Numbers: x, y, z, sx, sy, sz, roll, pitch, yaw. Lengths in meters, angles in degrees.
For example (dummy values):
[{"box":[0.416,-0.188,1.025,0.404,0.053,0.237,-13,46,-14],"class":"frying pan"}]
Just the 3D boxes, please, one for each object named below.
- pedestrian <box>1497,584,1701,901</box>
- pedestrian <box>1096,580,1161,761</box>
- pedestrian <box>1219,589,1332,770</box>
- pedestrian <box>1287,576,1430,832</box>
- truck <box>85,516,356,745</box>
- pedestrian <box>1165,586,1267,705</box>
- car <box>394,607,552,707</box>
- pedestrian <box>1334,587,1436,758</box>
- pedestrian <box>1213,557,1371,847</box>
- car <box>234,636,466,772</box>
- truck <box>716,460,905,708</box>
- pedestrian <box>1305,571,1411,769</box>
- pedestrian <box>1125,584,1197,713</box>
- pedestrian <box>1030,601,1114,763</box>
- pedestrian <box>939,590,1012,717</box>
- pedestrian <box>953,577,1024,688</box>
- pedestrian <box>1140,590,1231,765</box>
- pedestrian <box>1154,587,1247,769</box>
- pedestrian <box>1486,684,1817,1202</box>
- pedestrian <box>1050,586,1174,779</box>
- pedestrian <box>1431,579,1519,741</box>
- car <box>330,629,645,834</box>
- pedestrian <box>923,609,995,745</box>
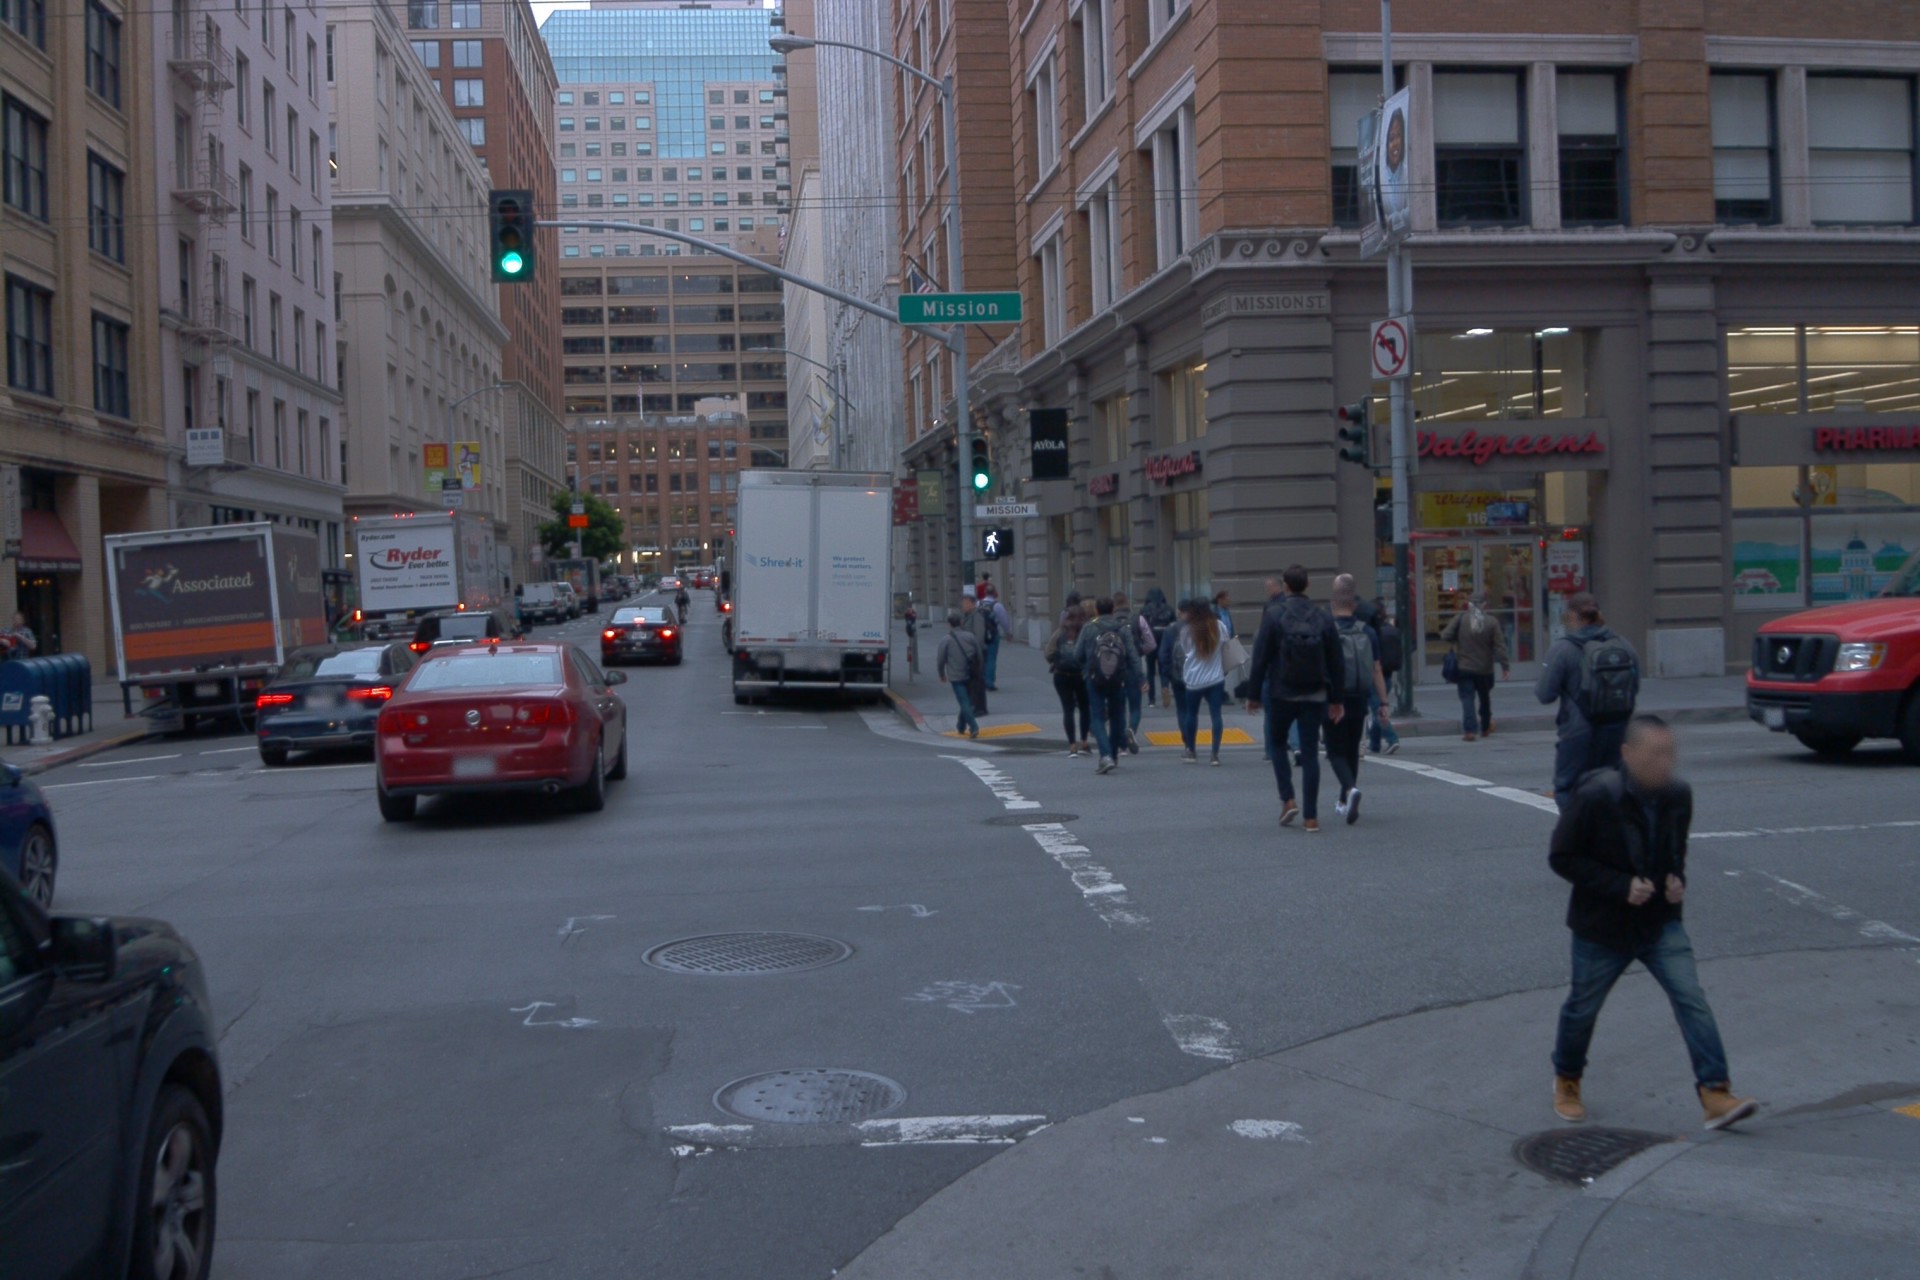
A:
[{"box":[3.786,0.572,12.269,0.785,1.800,1.149,0,1,-5],"class":"pedestrian"},{"box":[1.865,0.318,22.660,0.665,1.950,1.094,0,1,7],"class":"pedestrian"},{"box":[3.026,0.363,19.802,0.858,1.690,0.874,0,1,-7],"class":"pedestrian"},{"box":[2.933,0.454,15.218,0.816,1.830,0.943,0,1,-4],"class":"pedestrian"},{"box":[-11.894,-0.200,33.713,3.011,3.380,6.430,0,1,-9],"class":"truck"},{"box":[3.581,0.063,28.778,0.995,1.636,1.015,-1,1,-41],"class":"pedestrian"},{"box":[-8.717,0.251,37.214,2.134,1.690,4.735,0,1,-5],"class":"car"},{"box":[4.441,0.322,21.535,0.701,1.740,0.968,-1,1,-13],"class":"pedestrian"},{"box":[2.345,0.418,14.658,0.919,1.980,1.153,0,1,-1],"class":"pedestrian"},{"box":[-7.473,0.718,25.624,1.889,1.470,4.429,0,1,-5],"class":"car"},{"box":[-2.749,-0.928,35.454,2.836,3.790,7.822,0,1,-7],"class":"truck"},{"box":[3.894,0.278,20.192,0.859,1.900,0.873,0,1,0],"class":"pedestrian"},{"box":[2.800,0.107,28.711,0.801,1.760,0.886,0,1,-9],"class":"pedestrian"},{"box":[1.222,0.440,22.681,0.708,1.740,1.112,0,1,-8],"class":"pedestrian"},{"box":[0.222,0.185,29.023,0.951,1.760,0.757,0,1,6],"class":"pedestrian"},{"box":[0.466,-0.128,33.526,0.910,1.780,1.133,0,1,14],"class":"pedestrian"},{"box":[2.349,0.374,21.481,0.762,1.790,0.987,0,1,-5],"class":"pedestrian"},{"box":[2.340,0.351,20.078,0.722,1.730,0.990,0,1,-4],"class":"pedestrian"},{"box":[2.592,1.076,7.813,0.712,1.770,1.079,-1,1,-15],"class":"pedestrian"},{"box":[1.441,0.386,19.727,0.910,1.790,1.174,0,1,-10],"class":"pedestrian"},{"box":[5.934,0.221,23.726,0.862,1.830,0.883,0,1,6],"class":"pedestrian"},{"box":[-4.142,0.710,18.931,2.139,1.550,5.236,0,1,-5],"class":"car"},{"box":[-0.018,0.467,27.218,0.778,1.760,1.028,0,1,-10],"class":"pedestrian"}]
